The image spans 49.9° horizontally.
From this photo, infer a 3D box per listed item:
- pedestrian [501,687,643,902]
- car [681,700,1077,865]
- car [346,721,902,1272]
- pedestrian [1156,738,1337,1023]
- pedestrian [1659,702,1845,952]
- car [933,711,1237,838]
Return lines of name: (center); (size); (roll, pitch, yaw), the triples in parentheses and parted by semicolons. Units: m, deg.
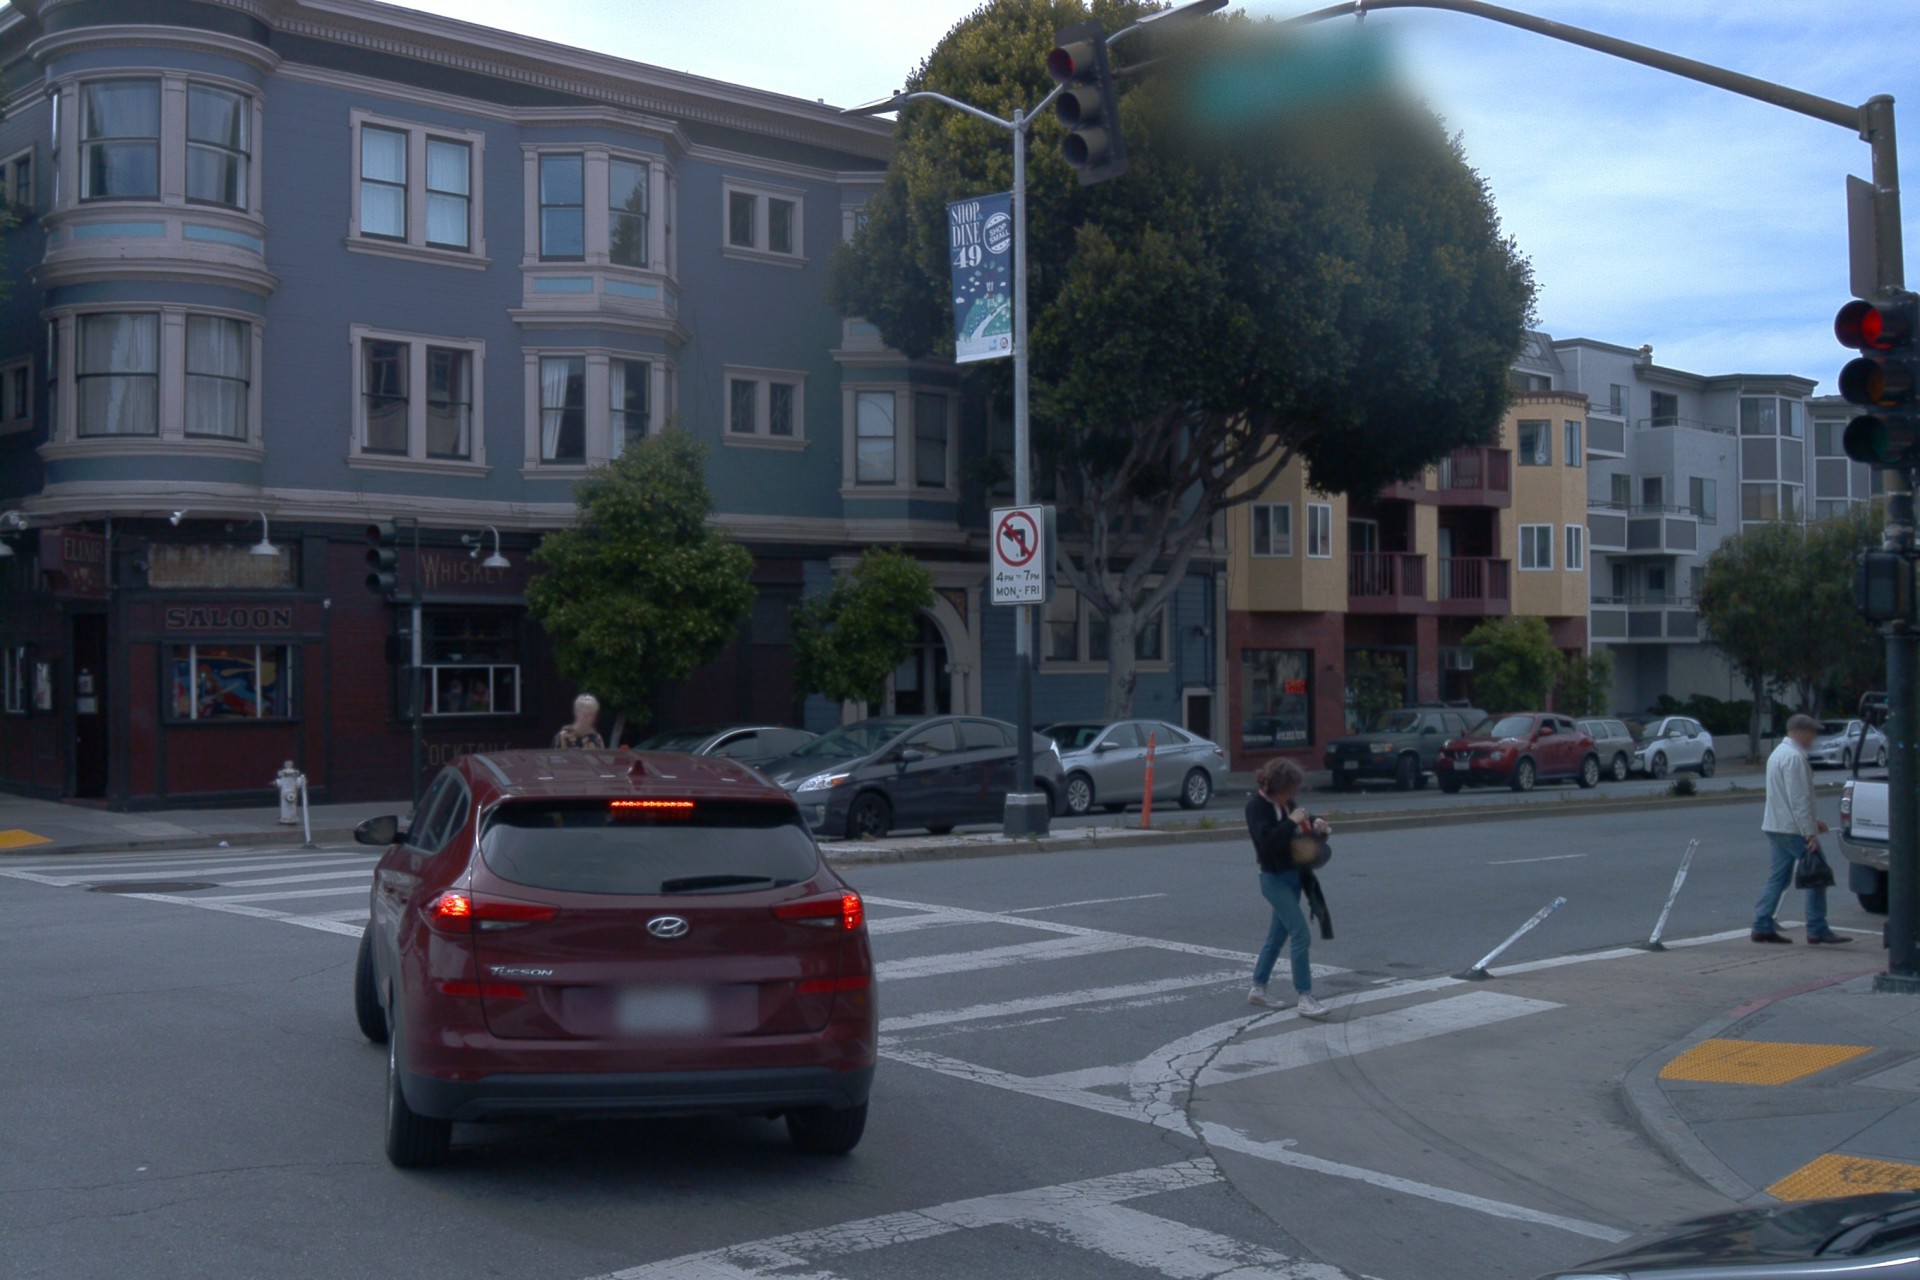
pedestrian: (-3.388, 1.313, 18.011); (0.786, 1.761, 1.057); (-1, 1, -40)
car: (-0.873, 1.595, 24.447); (2.051, 1.590, 4.479); (1, 1, 45)
car: (-1.848, 1.368, 9.805); (2.008, 1.730, 4.515); (0, 1, -17)
pedestrian: (1.772, 1.448, 12.768); (0.847, 1.620, 0.766); (0, 1, 37)
pedestrian: (6.238, 1.449, 16.336); (1.088, 1.870, 1.022); (0, 1, 2)
car: (2.006, 2.018, 32.063); (4.637, 1.610, 2.188); (-1, 1, -45)
